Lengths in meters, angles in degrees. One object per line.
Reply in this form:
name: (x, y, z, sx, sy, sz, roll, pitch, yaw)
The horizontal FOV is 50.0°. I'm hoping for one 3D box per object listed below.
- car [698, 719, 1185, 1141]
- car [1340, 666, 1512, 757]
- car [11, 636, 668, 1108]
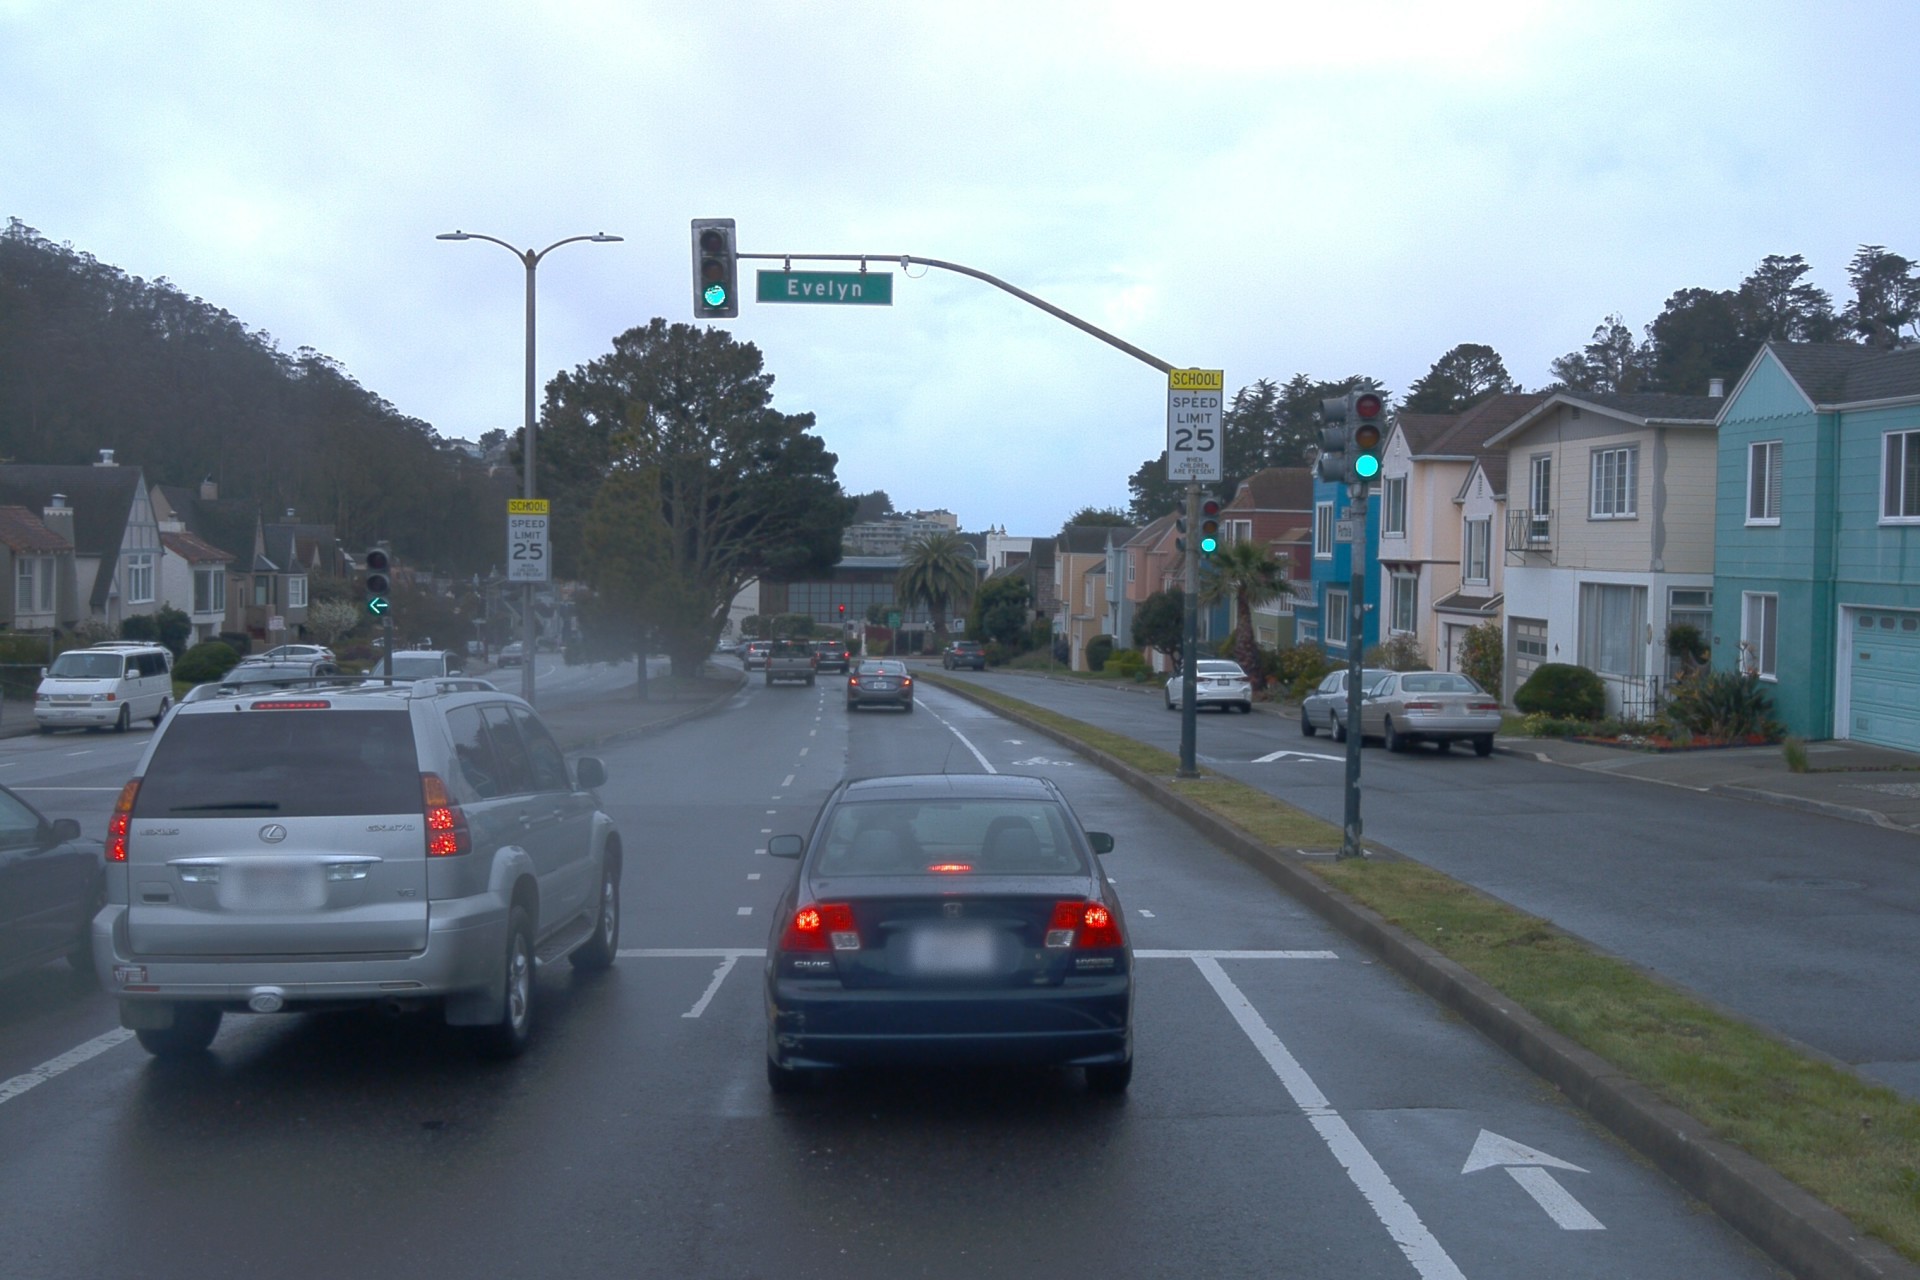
car: (-0.117, 1.273, 10.570, 2.004, 1.570, 4.164, 0, 0, -1)
car: (8.084, 1.201, 36.132, 1.755, 1.440, 4.469, 0, 0, -4)
car: (-3.058, 1.017, 11.411, 2.249, 2.070, 4.733, 0, 0, -1)
